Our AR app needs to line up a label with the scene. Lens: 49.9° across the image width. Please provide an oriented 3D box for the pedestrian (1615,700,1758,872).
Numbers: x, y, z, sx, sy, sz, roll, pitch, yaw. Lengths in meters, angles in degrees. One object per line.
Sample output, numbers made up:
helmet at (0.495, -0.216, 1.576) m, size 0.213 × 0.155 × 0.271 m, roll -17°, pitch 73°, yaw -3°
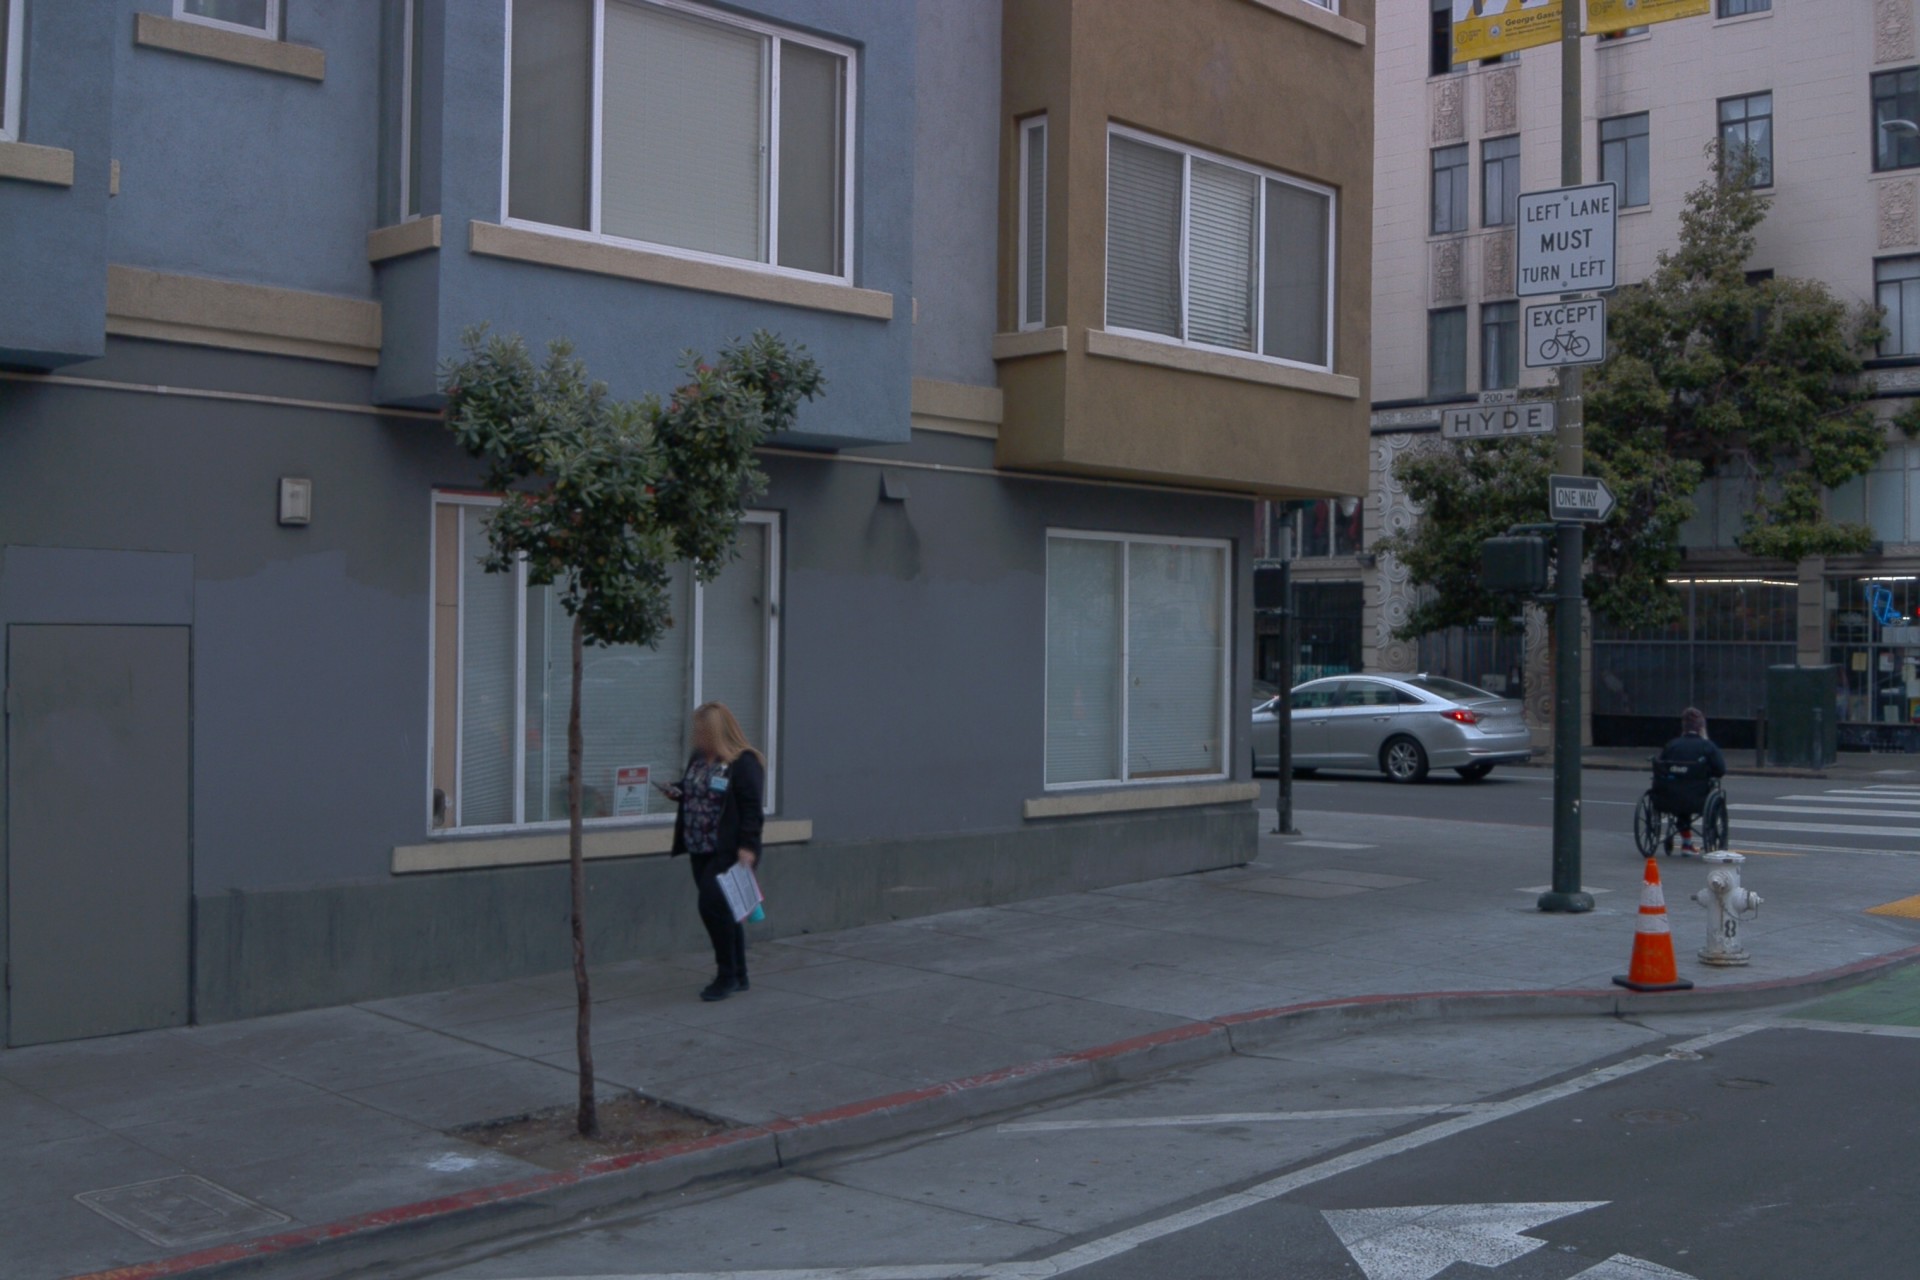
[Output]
pedestrian at (6.301, 1.237, 17.894) m, size 0.883 × 1.370 × 1.026 m, roll 1°, pitch 1°, yaw 38°

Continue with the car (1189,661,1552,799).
car at (5.562, 1.161, 28.369) m, size 1.939 × 1.600 × 4.599 m, roll -1°, pitch 1°, yaw -44°

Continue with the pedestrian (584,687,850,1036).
pedestrian at (-1.316, 1.141, 11.190) m, size 1.033 × 1.710 × 1.012 m, roll -1°, pitch 1°, yaw -42°
